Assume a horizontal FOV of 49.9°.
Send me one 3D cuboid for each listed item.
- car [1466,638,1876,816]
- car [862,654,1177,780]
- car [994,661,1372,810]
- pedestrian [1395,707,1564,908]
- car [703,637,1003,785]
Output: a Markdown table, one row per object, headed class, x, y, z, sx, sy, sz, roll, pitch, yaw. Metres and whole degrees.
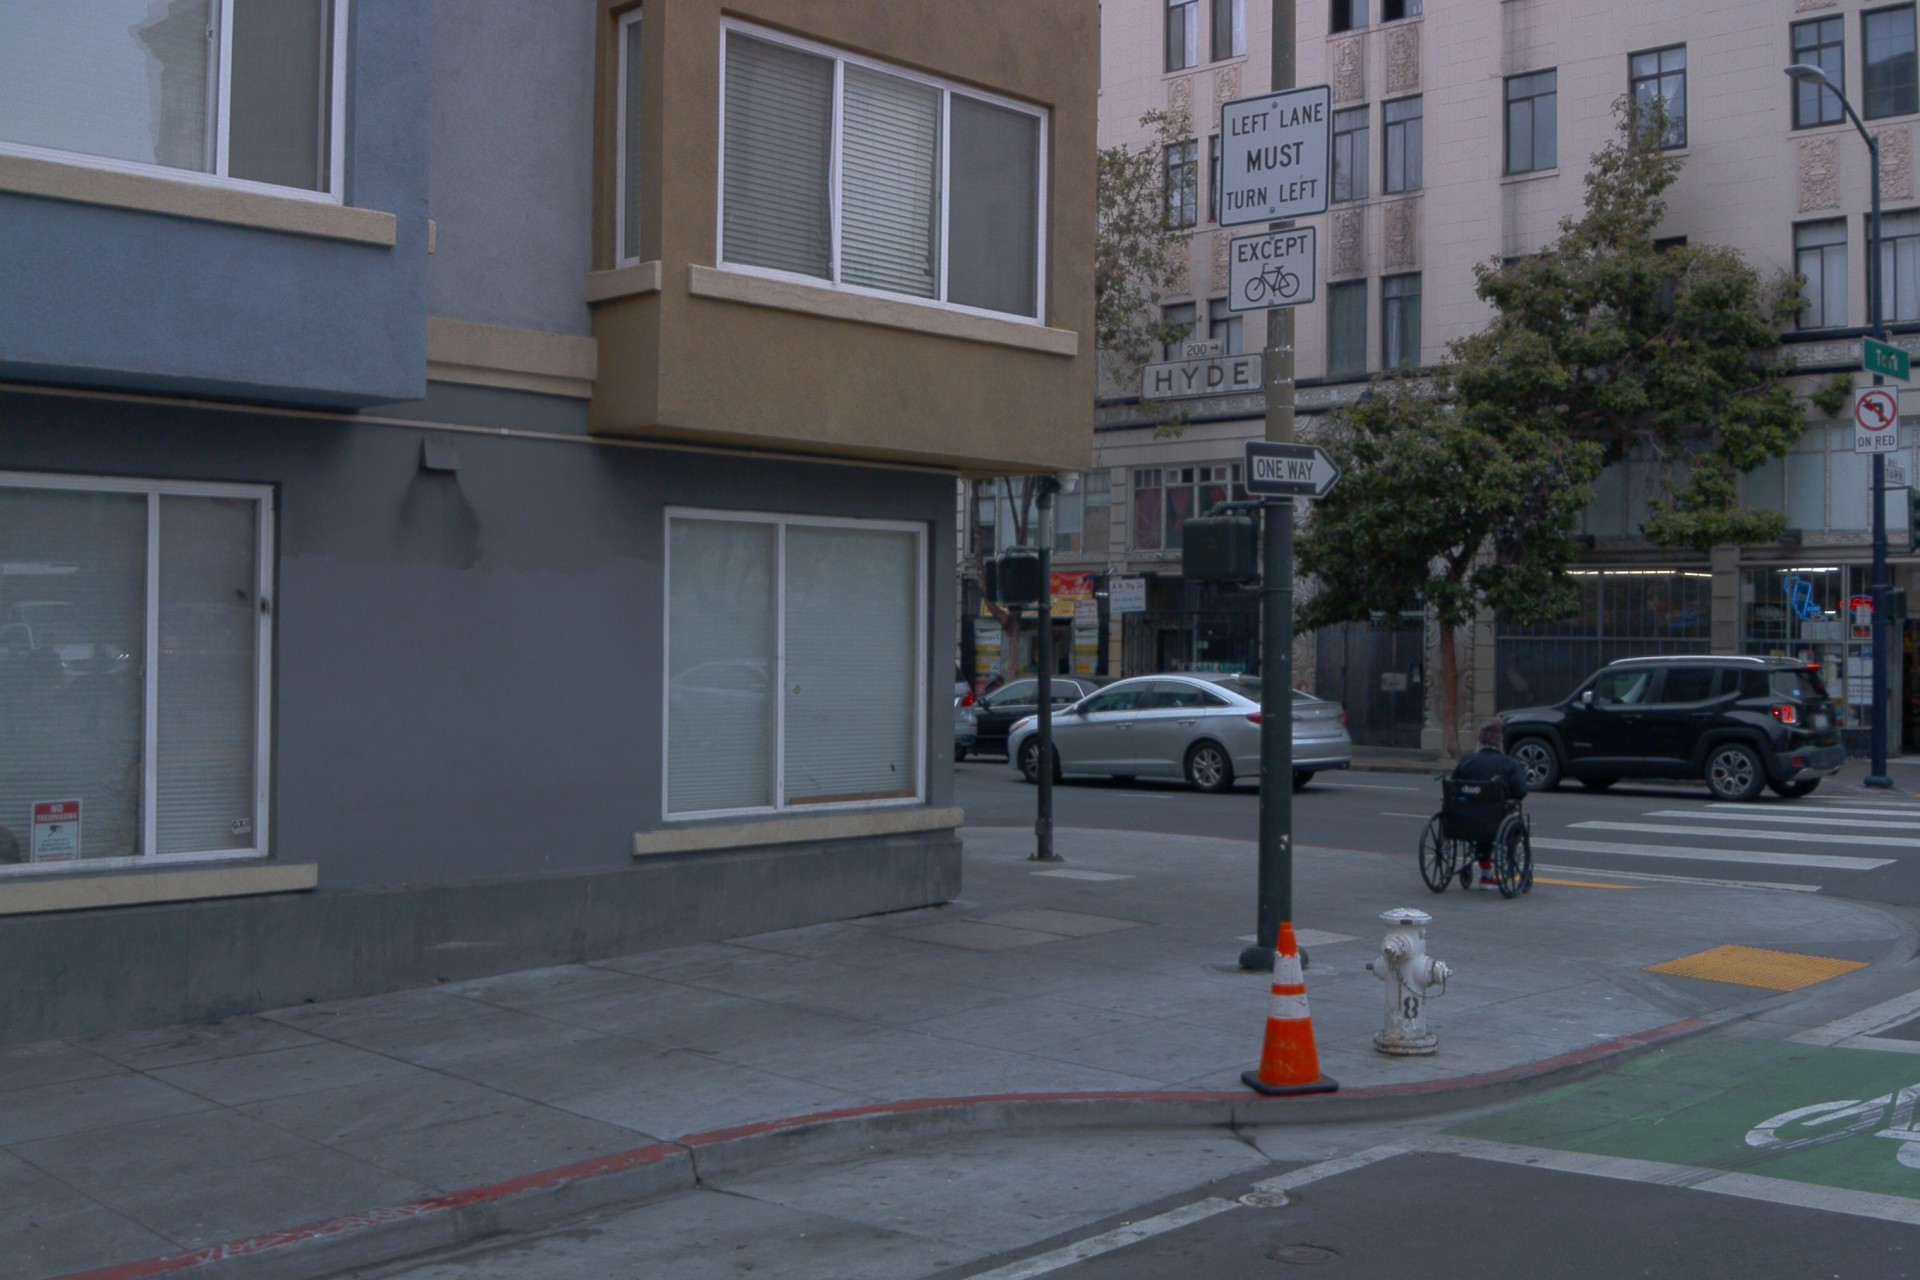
| class | x | y | z | sx | sy | sz | roll | pitch | yaw |
| --- | --- | --- | --- | --- | --- | --- | --- | --- | --- |
| car | 8.462 | 0.955 | 24.807 | 1.925 | 1.870 | 4.231 | -1 | 1 | -44 |
| car | 0.868 | 1.149 | 32.662 | 4.786 | 1.723 | 2.180 | 1 | 1 | 45 |
| car | 2.745 | 1.133 | 26.265 | 1.939 | 1.600 | 4.599 | -1 | 1 | -44 |
| pedestrian | 3.883 | 1.220 | 15.409 | 0.883 | 1.370 | 1.026 | 1 | 1 | 38 |
| car | -1.670 | 0.987 | 30.973 | 2.026 | 1.970 | 4.585 | -1 | 1 | -43 |
